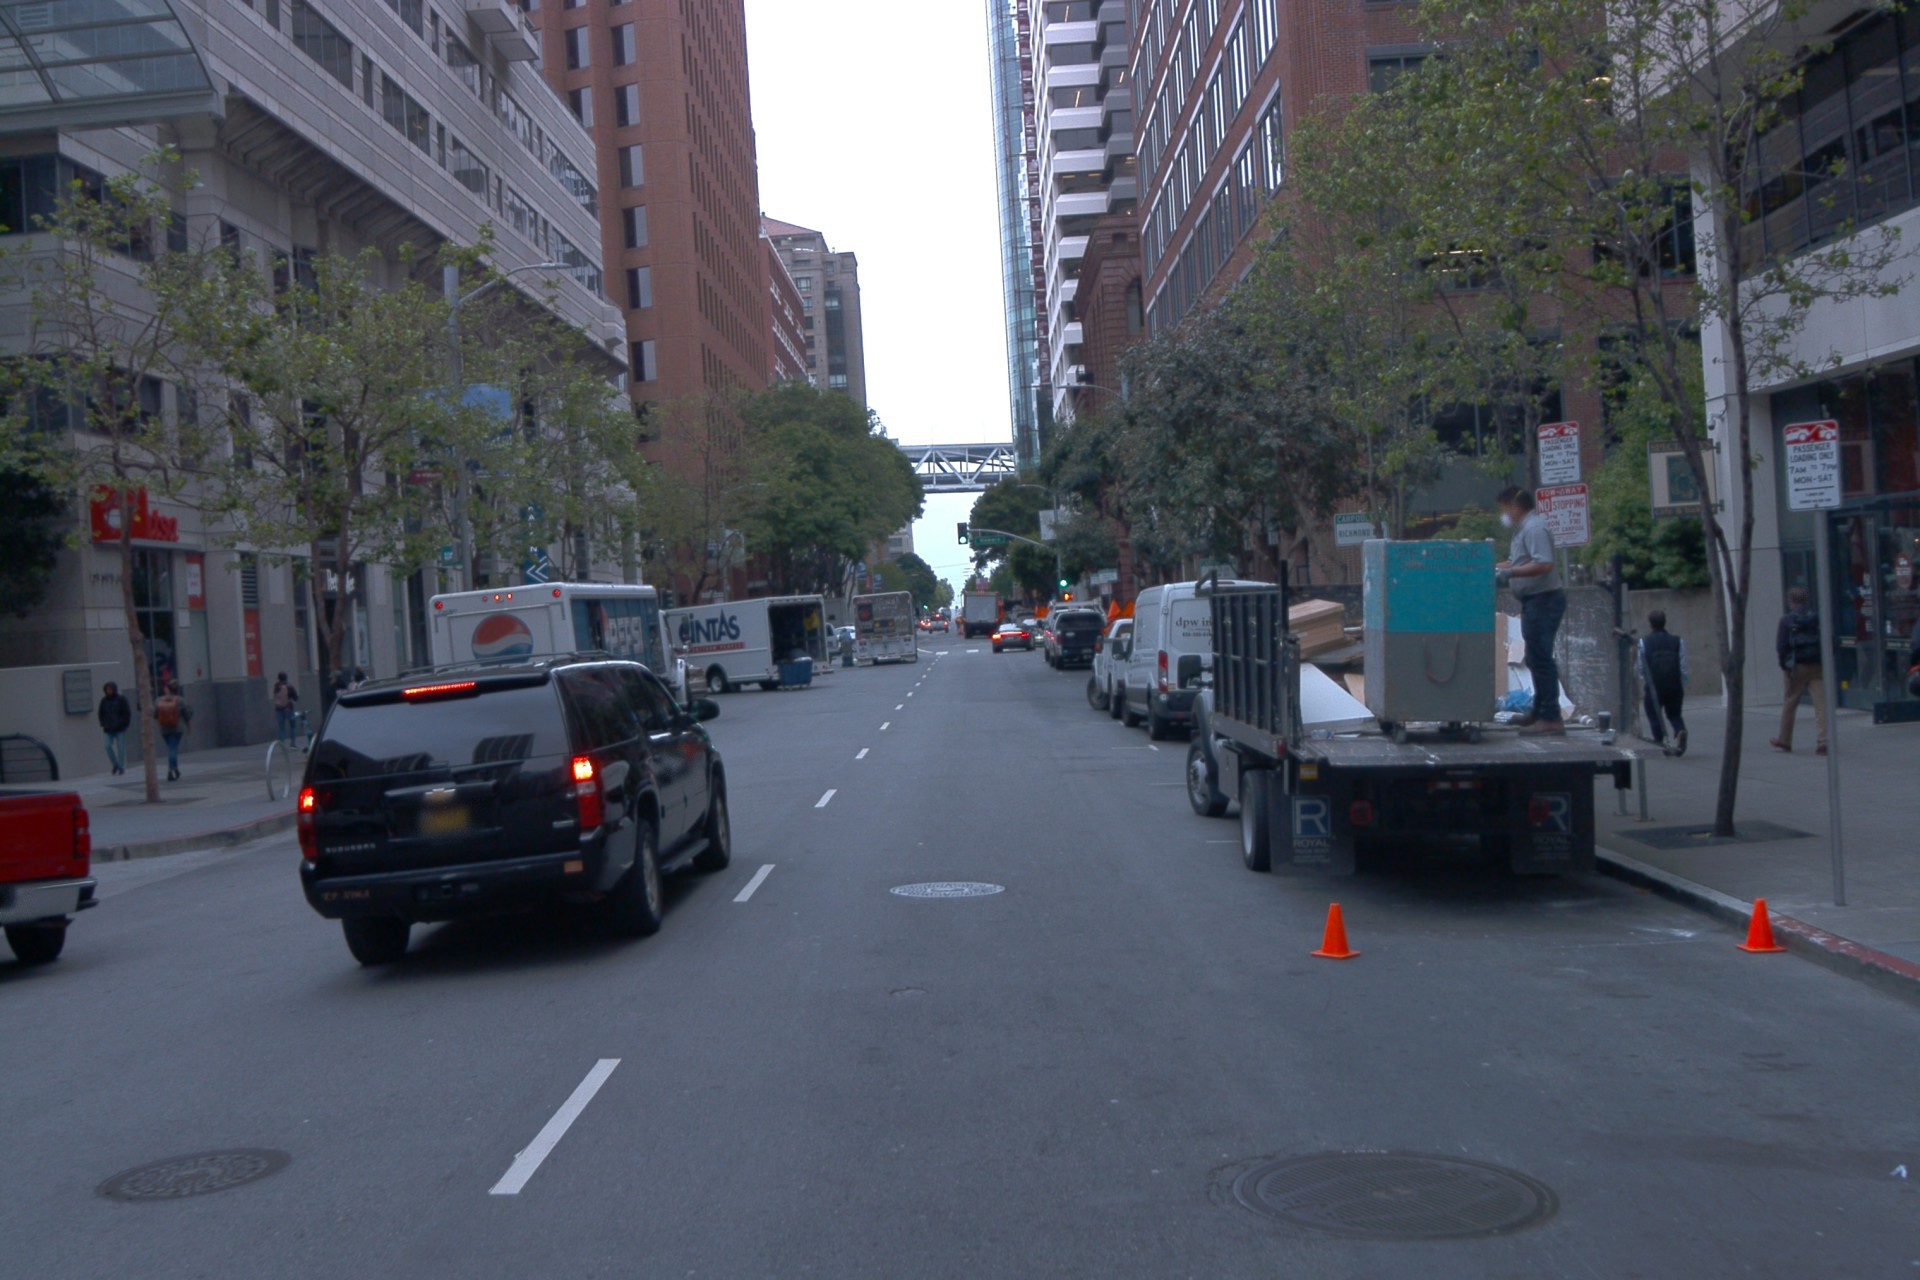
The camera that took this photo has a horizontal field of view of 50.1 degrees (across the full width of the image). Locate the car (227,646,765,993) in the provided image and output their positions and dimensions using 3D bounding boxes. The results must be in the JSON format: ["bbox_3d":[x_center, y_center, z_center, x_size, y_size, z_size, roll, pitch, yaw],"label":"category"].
[{"bbox_3d":[-2.982,1.054,14.876,2.450,1.929,5.812,0,1,2],"label":"car"}]

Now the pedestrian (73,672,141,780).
[{"bbox_3d":[-14.821,1.479,35.748,0.802,1.810,1.066,0,1,-5],"label":"pedestrian"}]

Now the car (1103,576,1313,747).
[{"bbox_3d":[3.928,0.283,33.864,2.502,2.560,6.048,0,1,-2],"label":"car"}]

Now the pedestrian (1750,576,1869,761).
[{"bbox_3d":[8.797,0.280,21.324,0.798,1.873,0.987,0,1,-2],"label":"pedestrian"}]

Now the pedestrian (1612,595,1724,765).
[{"bbox_3d":[7.675,0.421,22.328,0.894,1.804,1.017,0,1,2],"label":"pedestrian"}]

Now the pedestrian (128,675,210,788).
[{"bbox_3d":[-12.796,1.472,33.291,0.924,1.774,1.015,0,1,0],"label":"pedestrian"}]

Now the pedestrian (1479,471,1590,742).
[{"bbox_3d":[3.919,-0.227,14.067,0.659,1.800,0.766,0,1,10],"label":"pedestrian"}]

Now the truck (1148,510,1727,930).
[{"bbox_3d":[3.395,0.454,17.099,2.888,2.649,8.209,0,1,0],"label":"truck"}]
